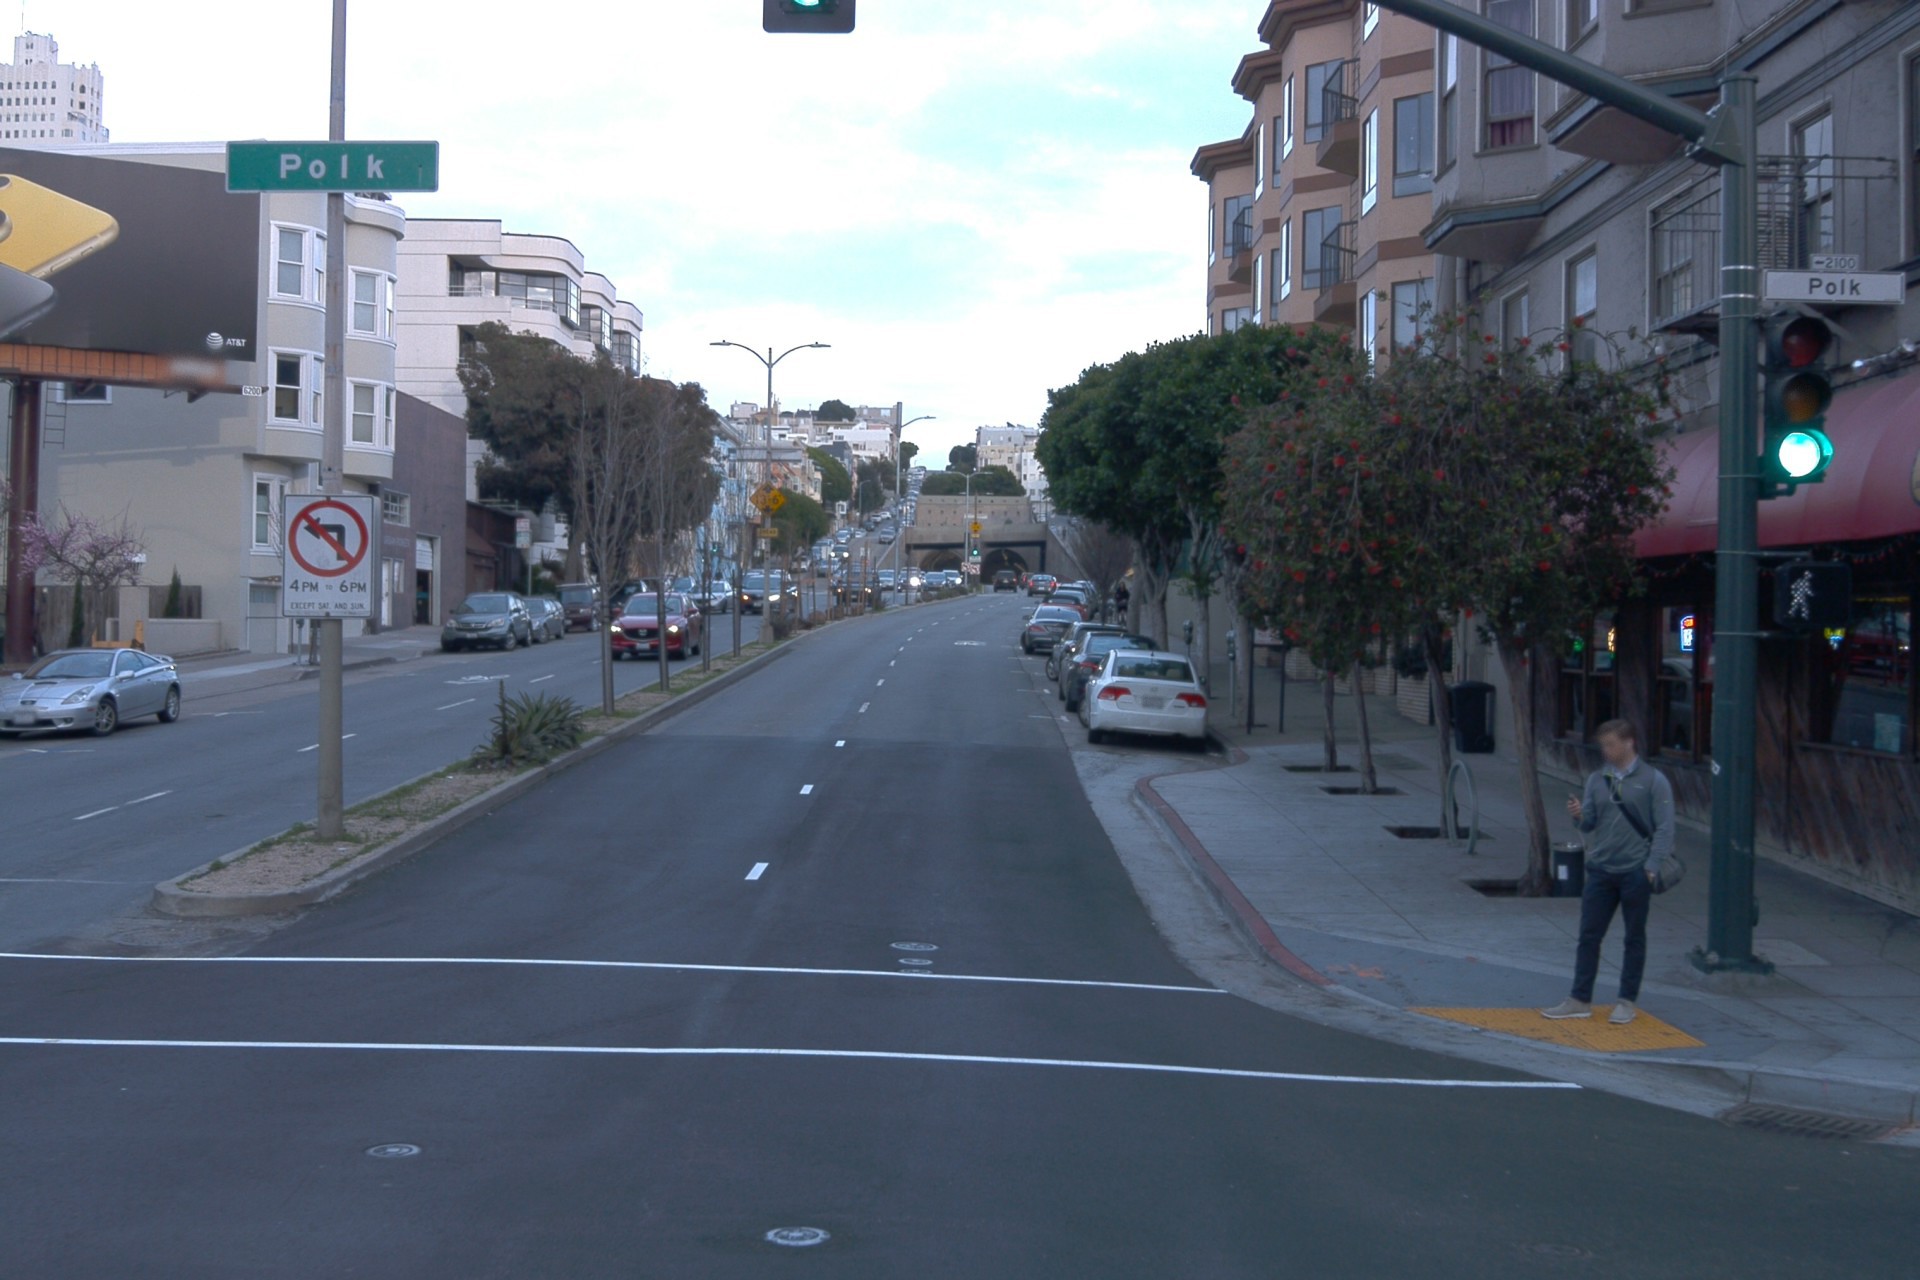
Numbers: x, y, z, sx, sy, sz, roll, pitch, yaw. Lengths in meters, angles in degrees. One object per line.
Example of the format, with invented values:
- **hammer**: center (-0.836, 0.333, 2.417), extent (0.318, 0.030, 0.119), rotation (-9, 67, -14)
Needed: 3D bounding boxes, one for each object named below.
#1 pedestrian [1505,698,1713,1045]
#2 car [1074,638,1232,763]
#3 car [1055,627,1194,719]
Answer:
- **pedestrian**: center (3.862, 1.316, 12.232), extent (0.925, 1.890, 1.048), rotation (1, 1, 32)
- **car**: center (2.911, 0.870, 32.072), extent (2.061, 1.750, 4.614), rotation (1, 1, 1)
- **car**: center (2.942, 0.548, 37.939), extent (2.151, 1.530, 5.003), rotation (1, 1, 0)
